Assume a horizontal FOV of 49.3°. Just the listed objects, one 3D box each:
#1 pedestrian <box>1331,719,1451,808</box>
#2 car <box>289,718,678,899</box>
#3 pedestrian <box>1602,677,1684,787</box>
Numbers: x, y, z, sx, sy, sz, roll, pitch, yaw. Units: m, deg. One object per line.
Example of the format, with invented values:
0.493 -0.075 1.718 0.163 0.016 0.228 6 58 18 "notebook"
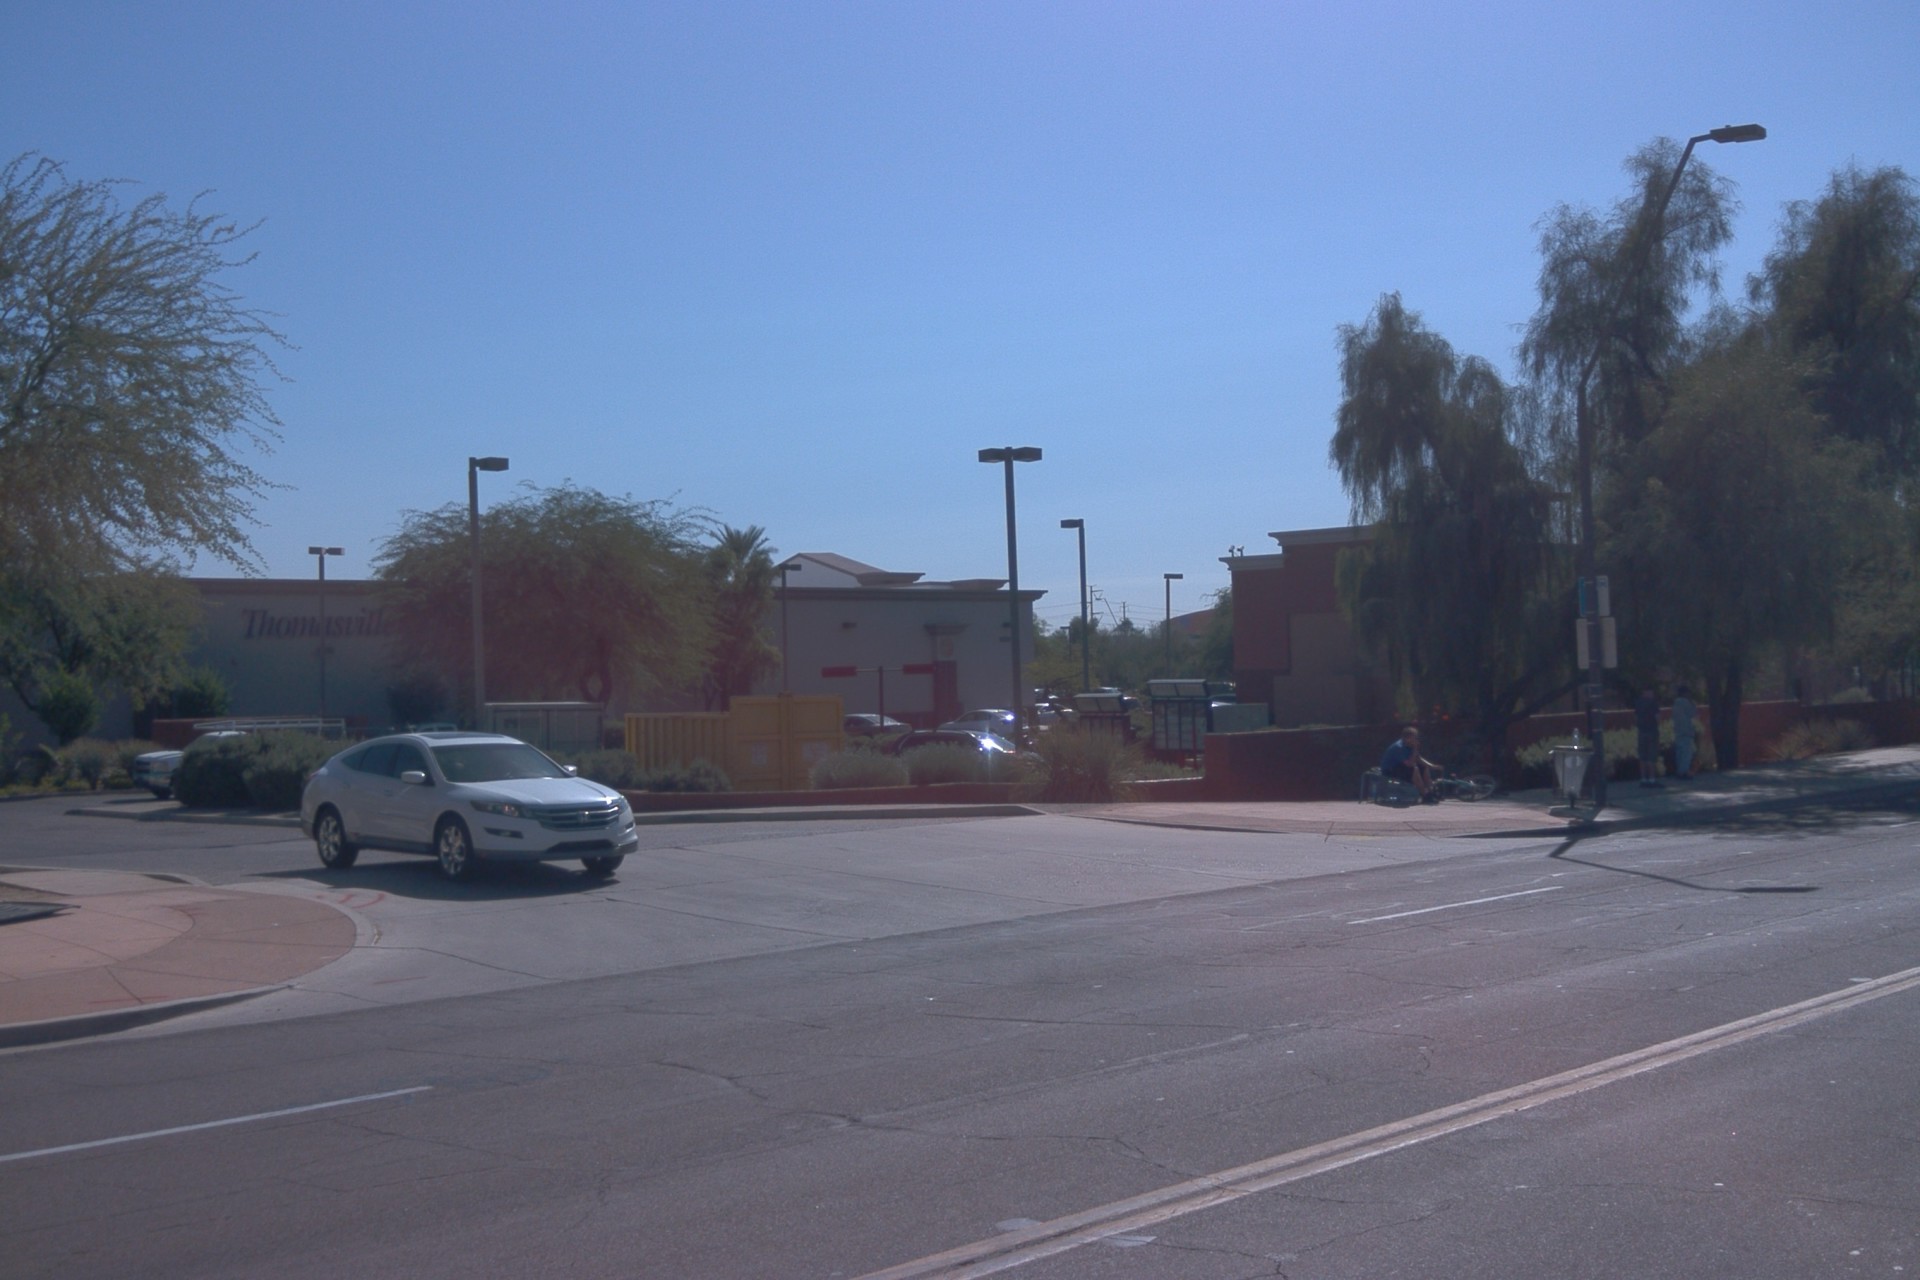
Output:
6.720 1.900 32.589 1.307 1.260 1.393 0 0 41 "pedestrian"
-5.500 1.804 23.716 2.162 1.620 4.905 0 0 -42 "car"
11.708 1.561 35.861 1.020 1.820 0.892 0 0 -35 "pedestrian"
